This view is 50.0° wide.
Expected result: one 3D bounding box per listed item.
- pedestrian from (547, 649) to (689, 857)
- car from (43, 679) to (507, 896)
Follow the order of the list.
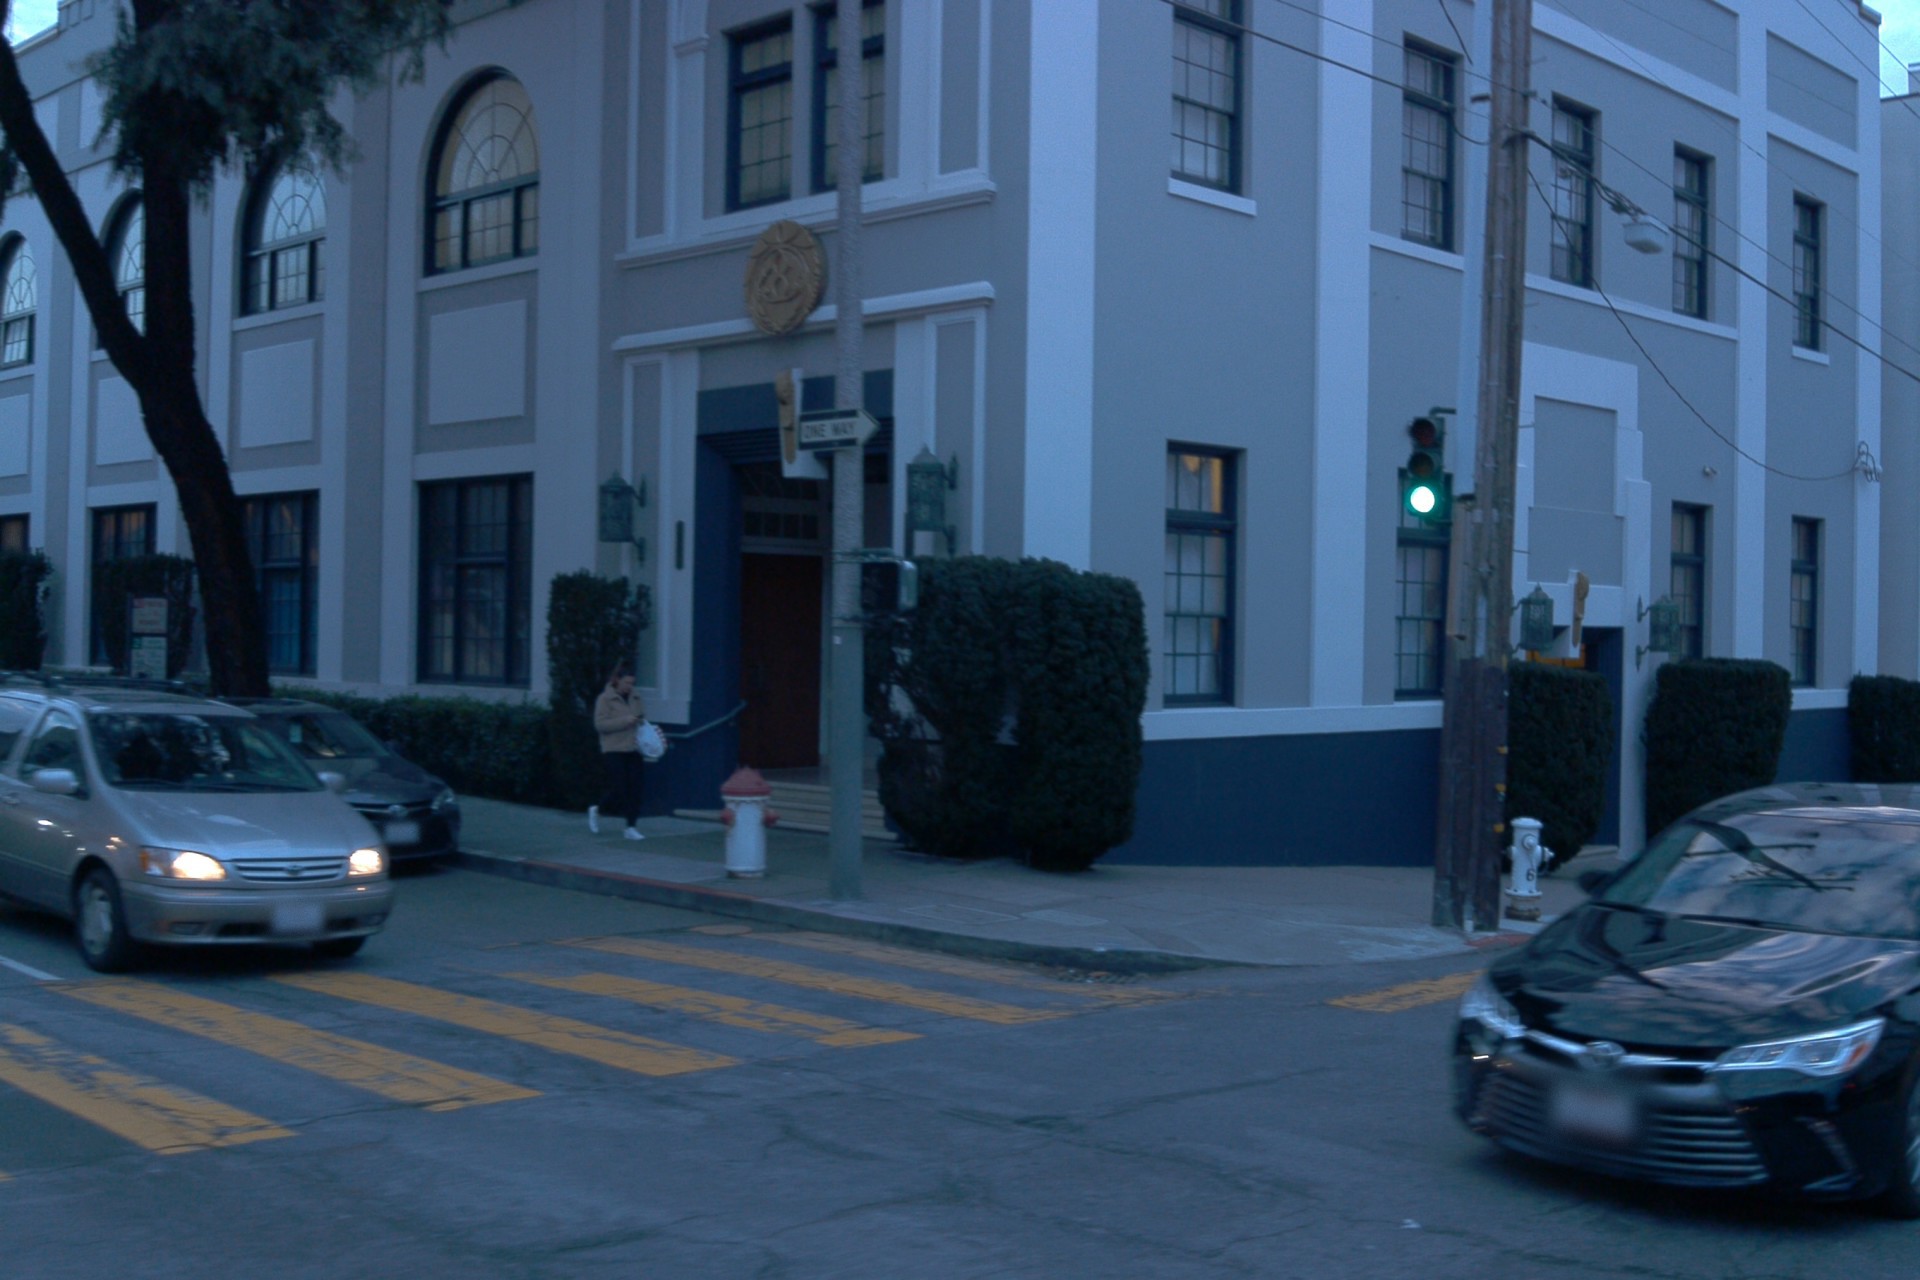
[{"bbox_3d":[-3.300,1.055,19.821,1.087,1.903,0.865,1,1,44],"label":"pedestrian"},{"bbox_3d":[-6.567,1.259,19.383,4.891,1.610,2.152,1,1,44],"label":"car"}]
